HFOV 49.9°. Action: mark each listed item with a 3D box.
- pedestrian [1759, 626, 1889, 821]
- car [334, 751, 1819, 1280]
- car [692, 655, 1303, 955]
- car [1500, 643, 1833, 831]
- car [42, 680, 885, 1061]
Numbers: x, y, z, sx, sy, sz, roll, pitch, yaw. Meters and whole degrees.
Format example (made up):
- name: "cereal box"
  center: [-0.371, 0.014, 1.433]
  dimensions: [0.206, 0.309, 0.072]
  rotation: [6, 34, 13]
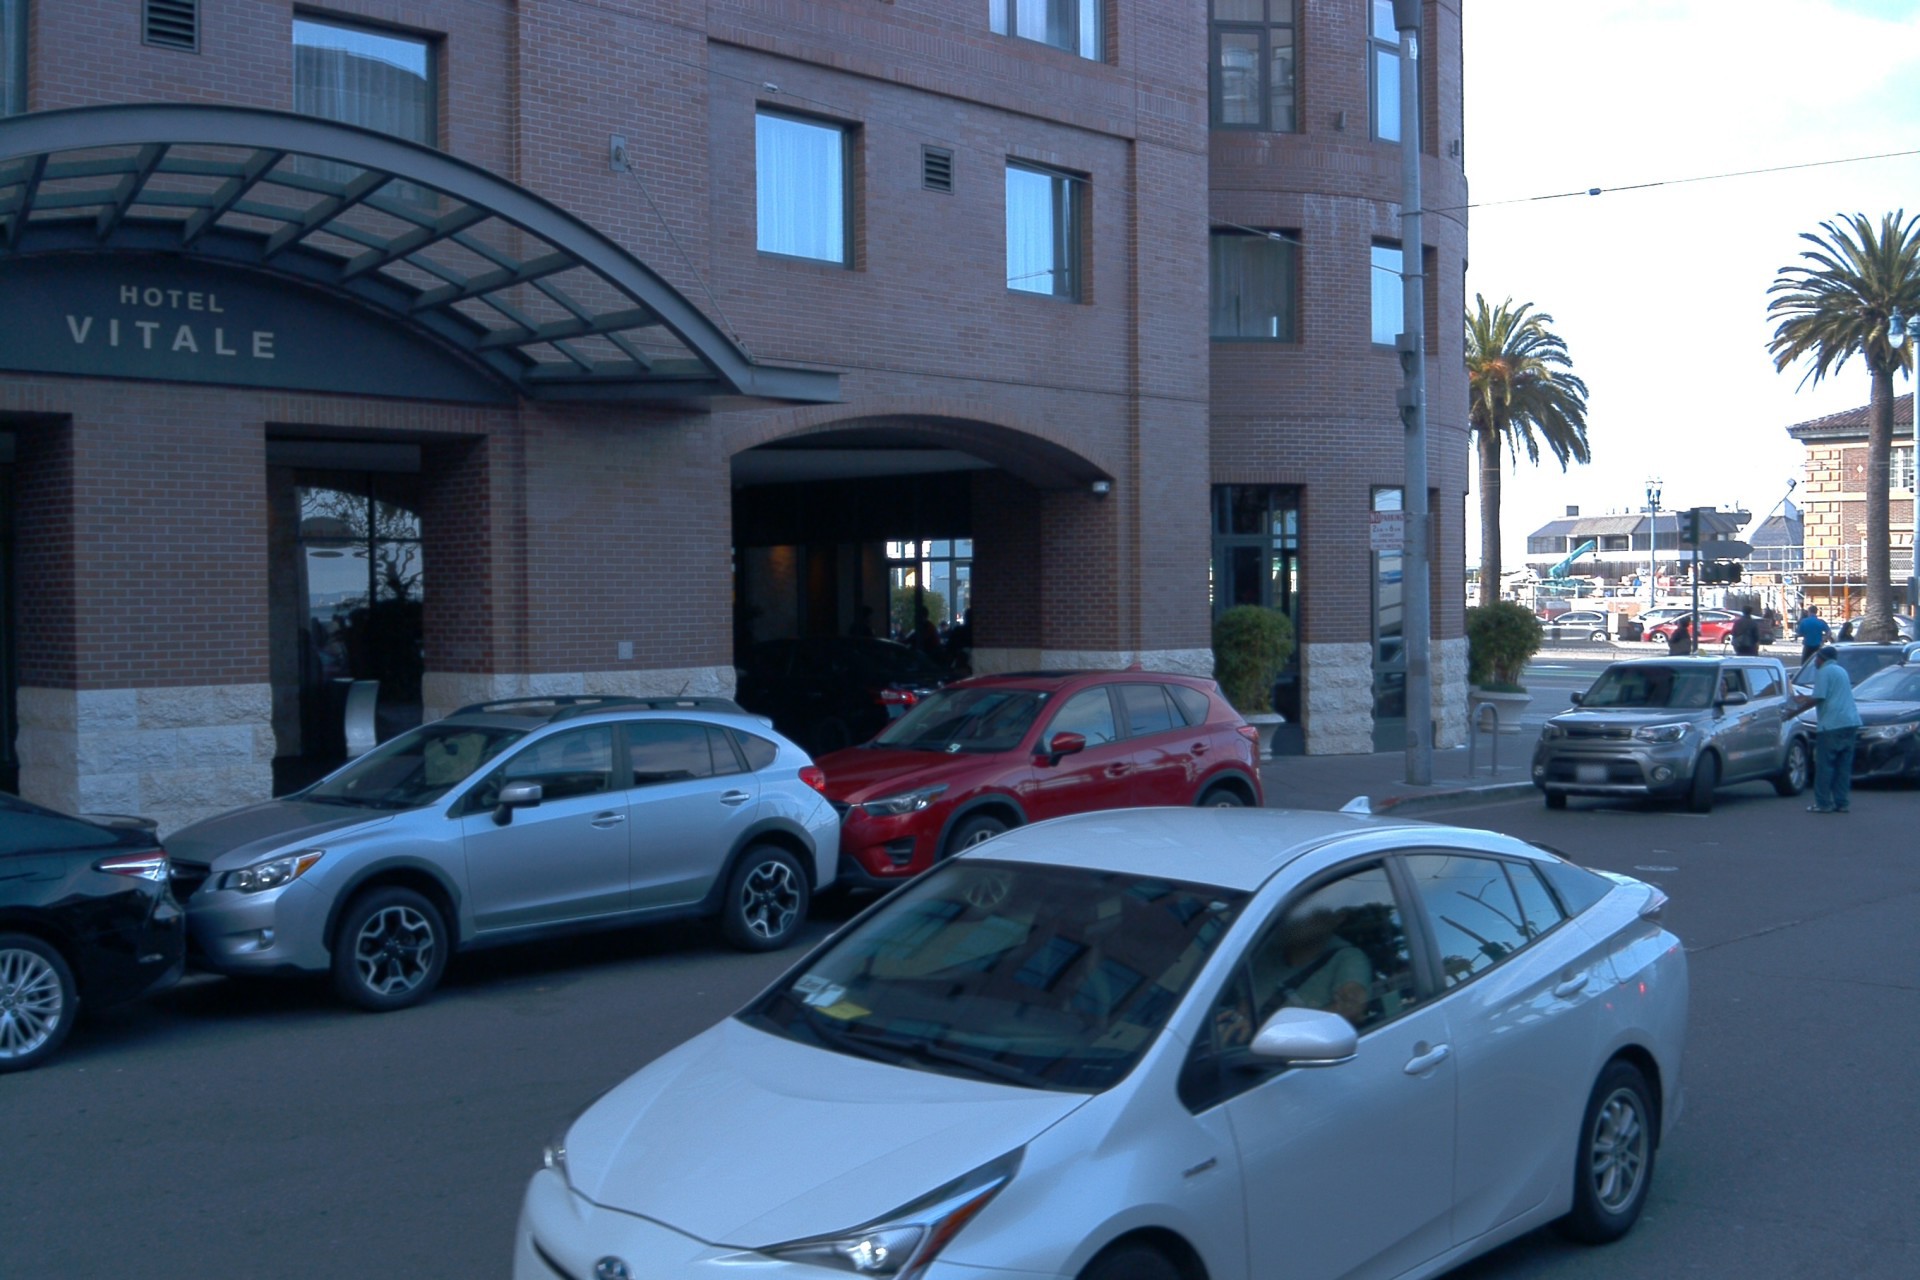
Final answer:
- name: "pedestrian"
  center: [8.848, 0.831, 21.169]
  dimensions: [0.931, 1.950, 0.908]
  rotation: [0, 1, -2]
- name: "car"
  center: [0.711, 1.284, 6.384]
  dimensions: [2.131, 1.550, 4.616]
  rotation: [1, 1, 43]
- name: "car"
  center: [0.410, 1.081, 15.630]
  dimensions: [2.120, 1.830, 4.483]
  rotation: [1, 1, 45]
- name: "car"
  center: [7.778, 0.957, 22.511]
  dimensions: [2.002, 1.787, 4.174]
  rotation: [1, 1, 41]
- name: "car"
  center: [-2.779, 1.163, 12.299]
  dimensions: [2.045, 1.693, 4.467]
  rotation: [1, 1, 45]
